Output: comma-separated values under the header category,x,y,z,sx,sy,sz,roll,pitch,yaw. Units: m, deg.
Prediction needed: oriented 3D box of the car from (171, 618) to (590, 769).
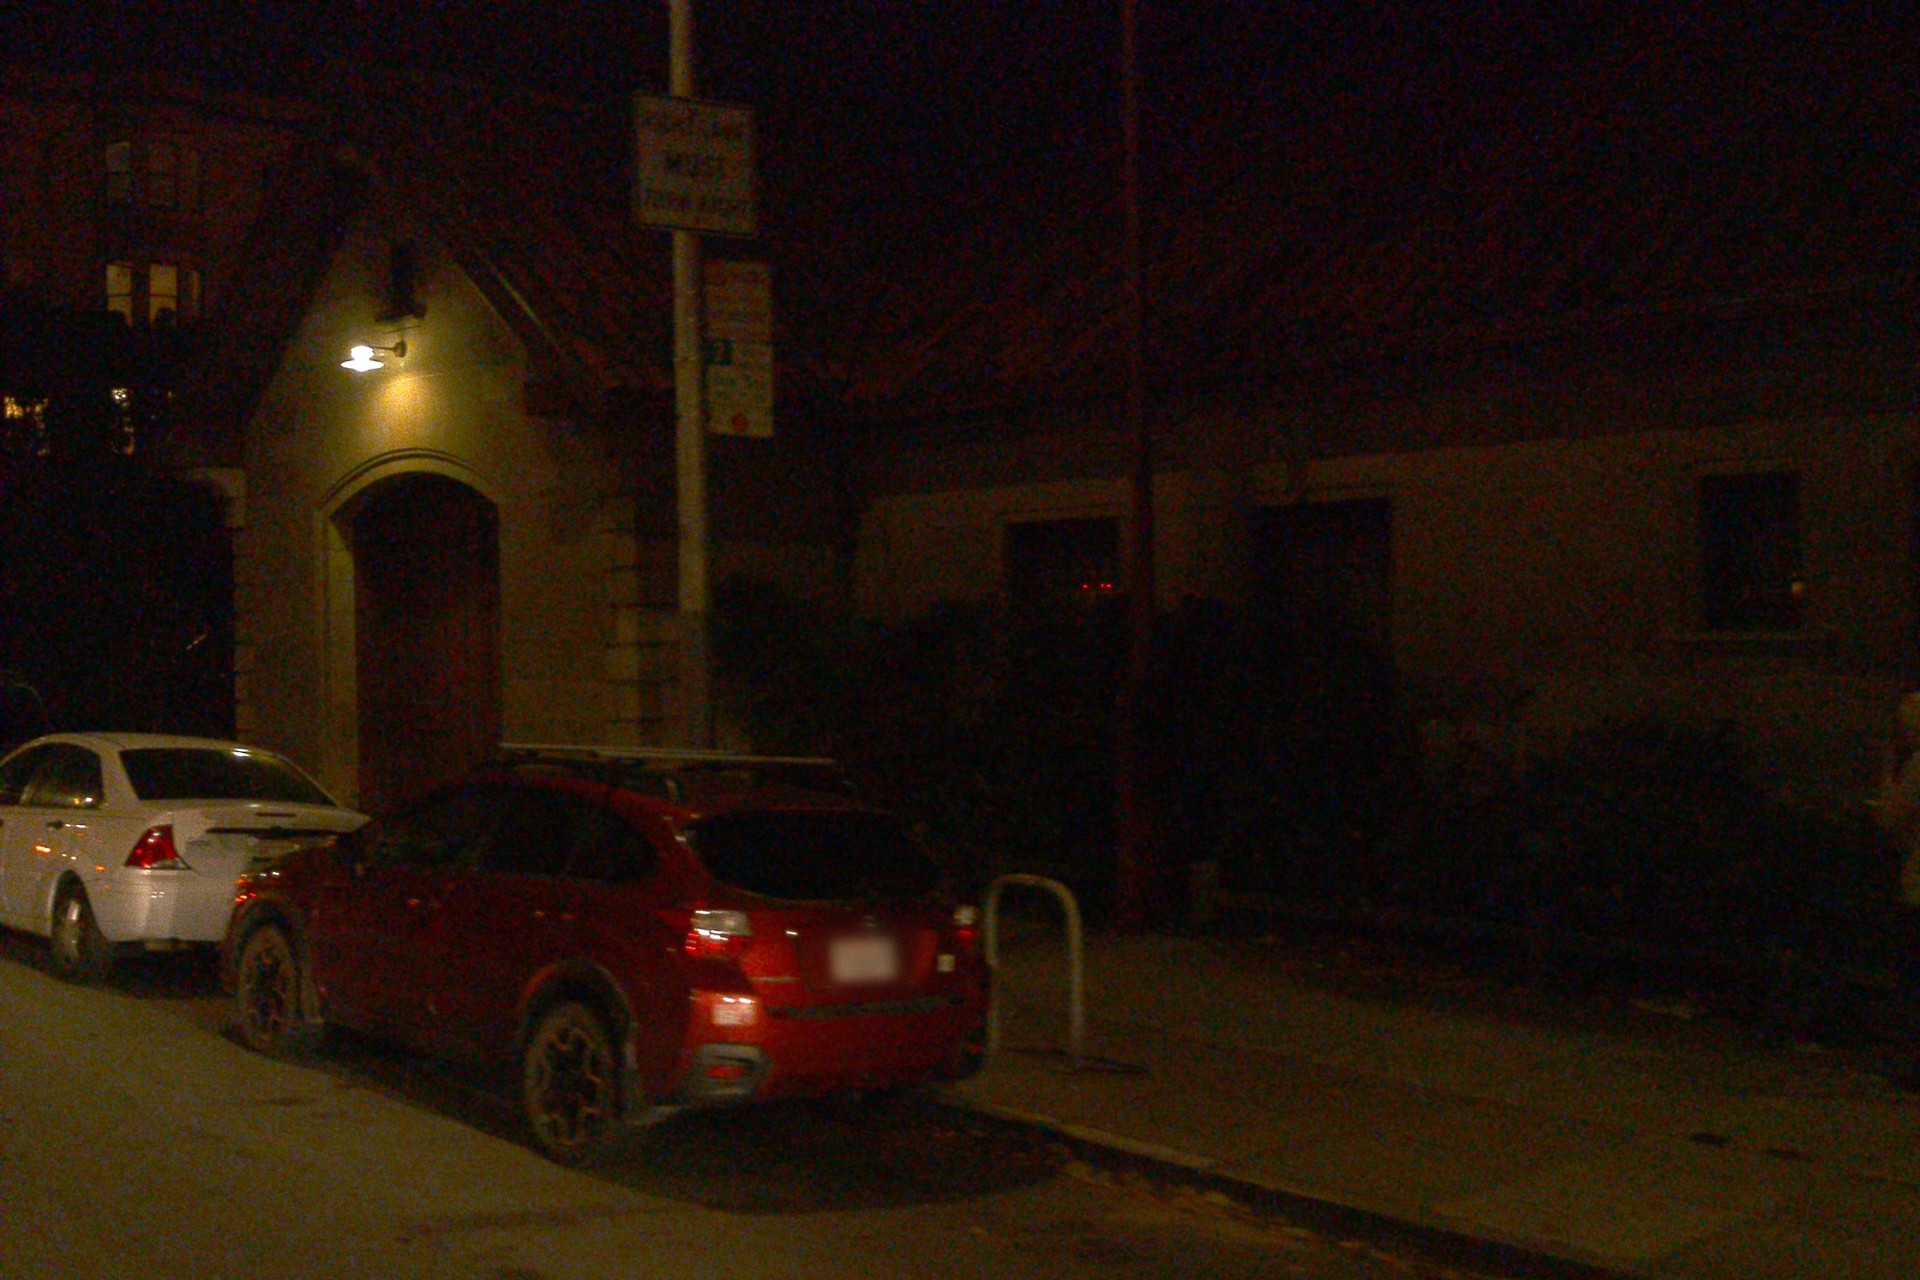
category,x,y,z,sx,sy,sz,roll,pitch,yaw
car,-7.871,0.682,28.344,5.037,1.890,2.309,1,0,-43

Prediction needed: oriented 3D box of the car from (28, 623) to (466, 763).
category,x,y,z,sx,sy,sz,roll,pitch,yaw
car,-10.102,0.701,29.551,5.448,1.820,2.301,1,0,-44

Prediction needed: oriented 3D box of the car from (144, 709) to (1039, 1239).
category,x,y,z,sx,sy,sz,roll,pitch,yaw
car,-1.966,1.289,9.836,2.033,1.750,4.556,1,0,-43
